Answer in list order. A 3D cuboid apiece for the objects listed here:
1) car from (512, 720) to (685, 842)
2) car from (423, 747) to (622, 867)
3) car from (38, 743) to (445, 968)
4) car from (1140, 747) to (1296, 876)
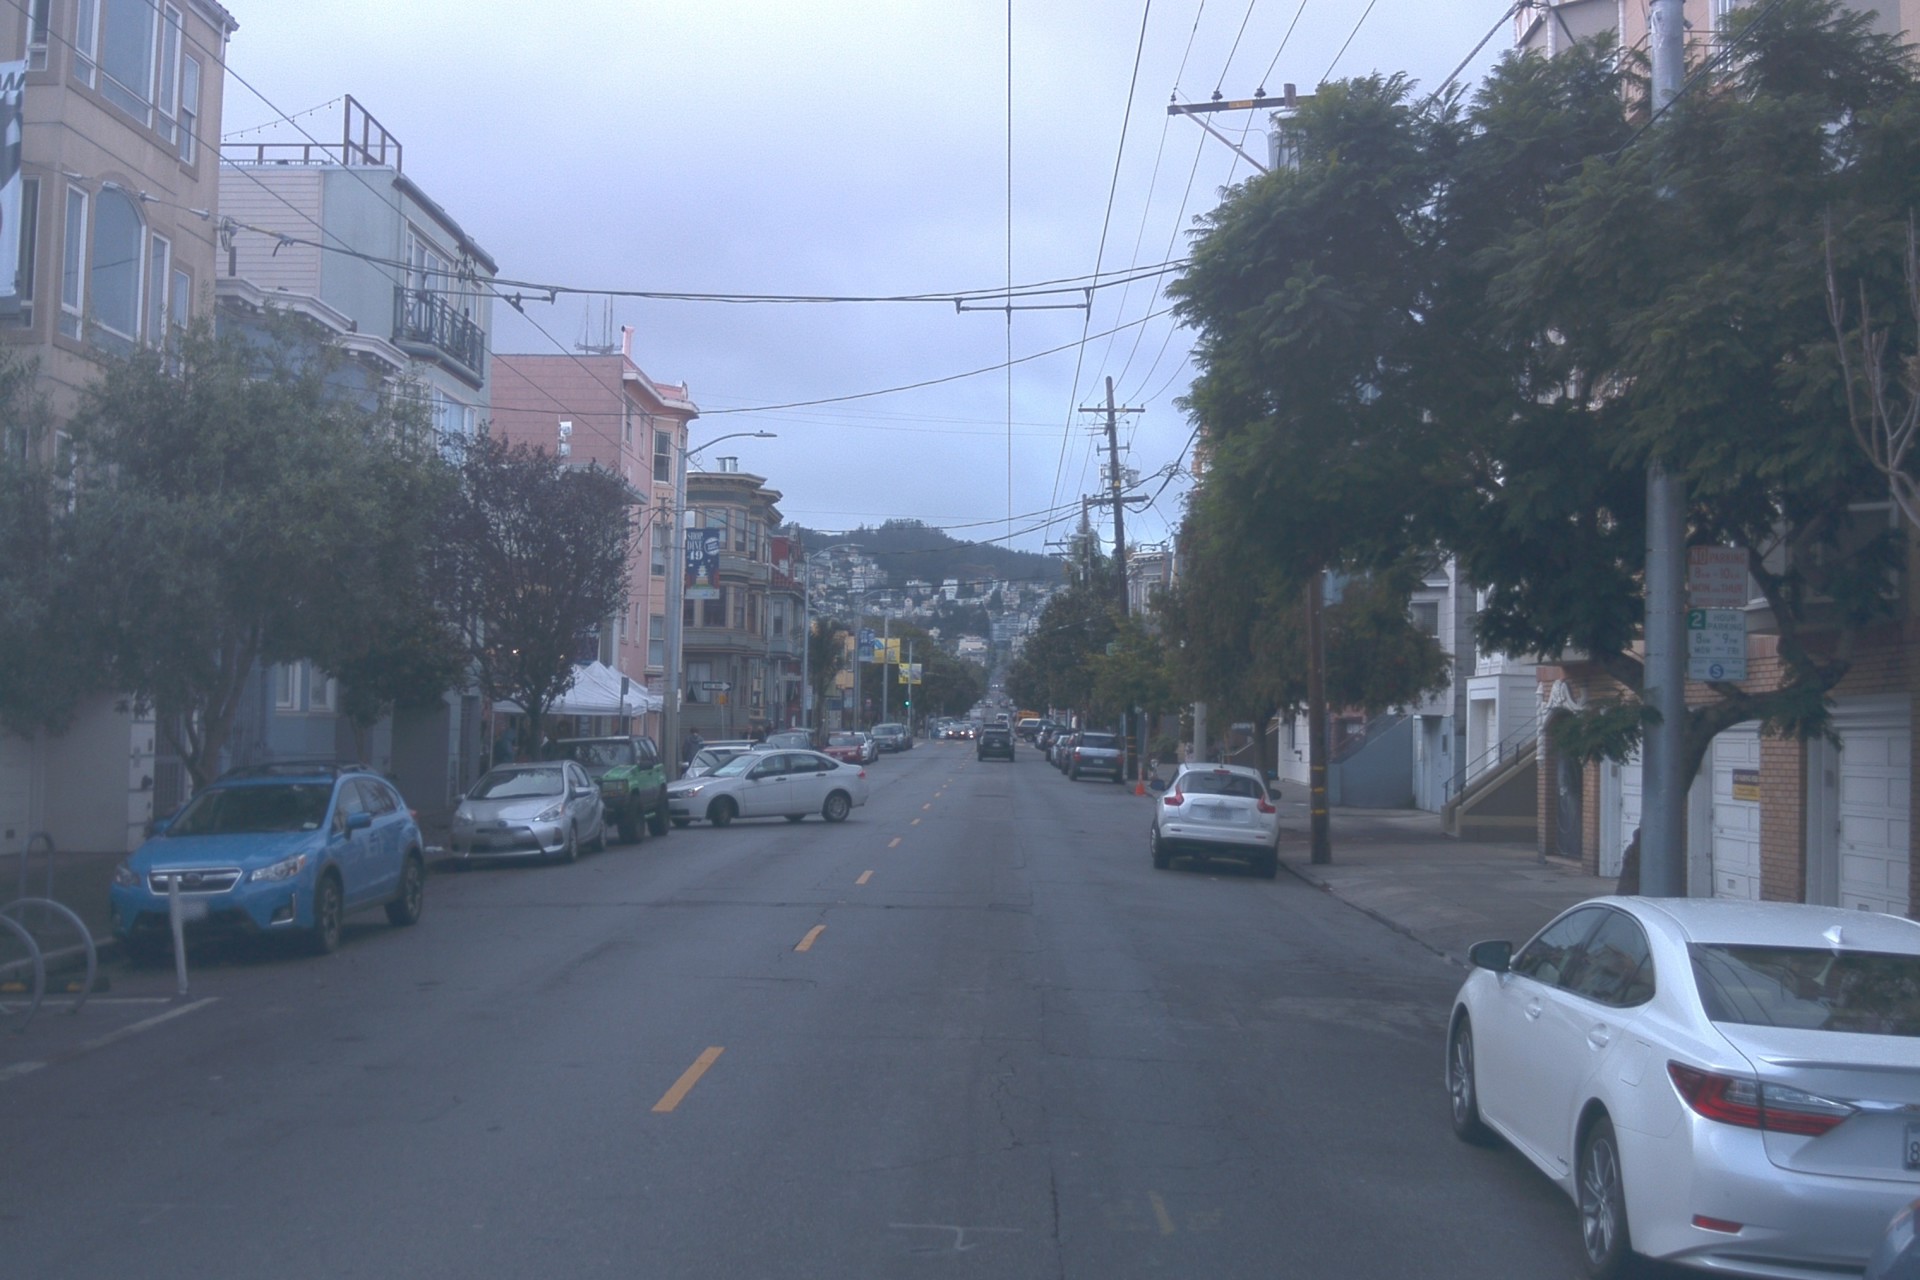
[{"bbox_3d":[-6.025,2.321,35.297,2.012,1.830,4.572,1,-2,1],"label":"car"},{"bbox_3d":[-6.275,2.377,30.377,1.991,1.500,4.028,1,-2,0],"label":"car"},{"bbox_3d":[-6.281,1.833,18.847,2.059,1.660,4.380,1,-2,1],"label":"car"},{"bbox_3d":[3.782,2.495,31.139,2.028,1.650,4.143,1,-2,3],"label":"car"}]
